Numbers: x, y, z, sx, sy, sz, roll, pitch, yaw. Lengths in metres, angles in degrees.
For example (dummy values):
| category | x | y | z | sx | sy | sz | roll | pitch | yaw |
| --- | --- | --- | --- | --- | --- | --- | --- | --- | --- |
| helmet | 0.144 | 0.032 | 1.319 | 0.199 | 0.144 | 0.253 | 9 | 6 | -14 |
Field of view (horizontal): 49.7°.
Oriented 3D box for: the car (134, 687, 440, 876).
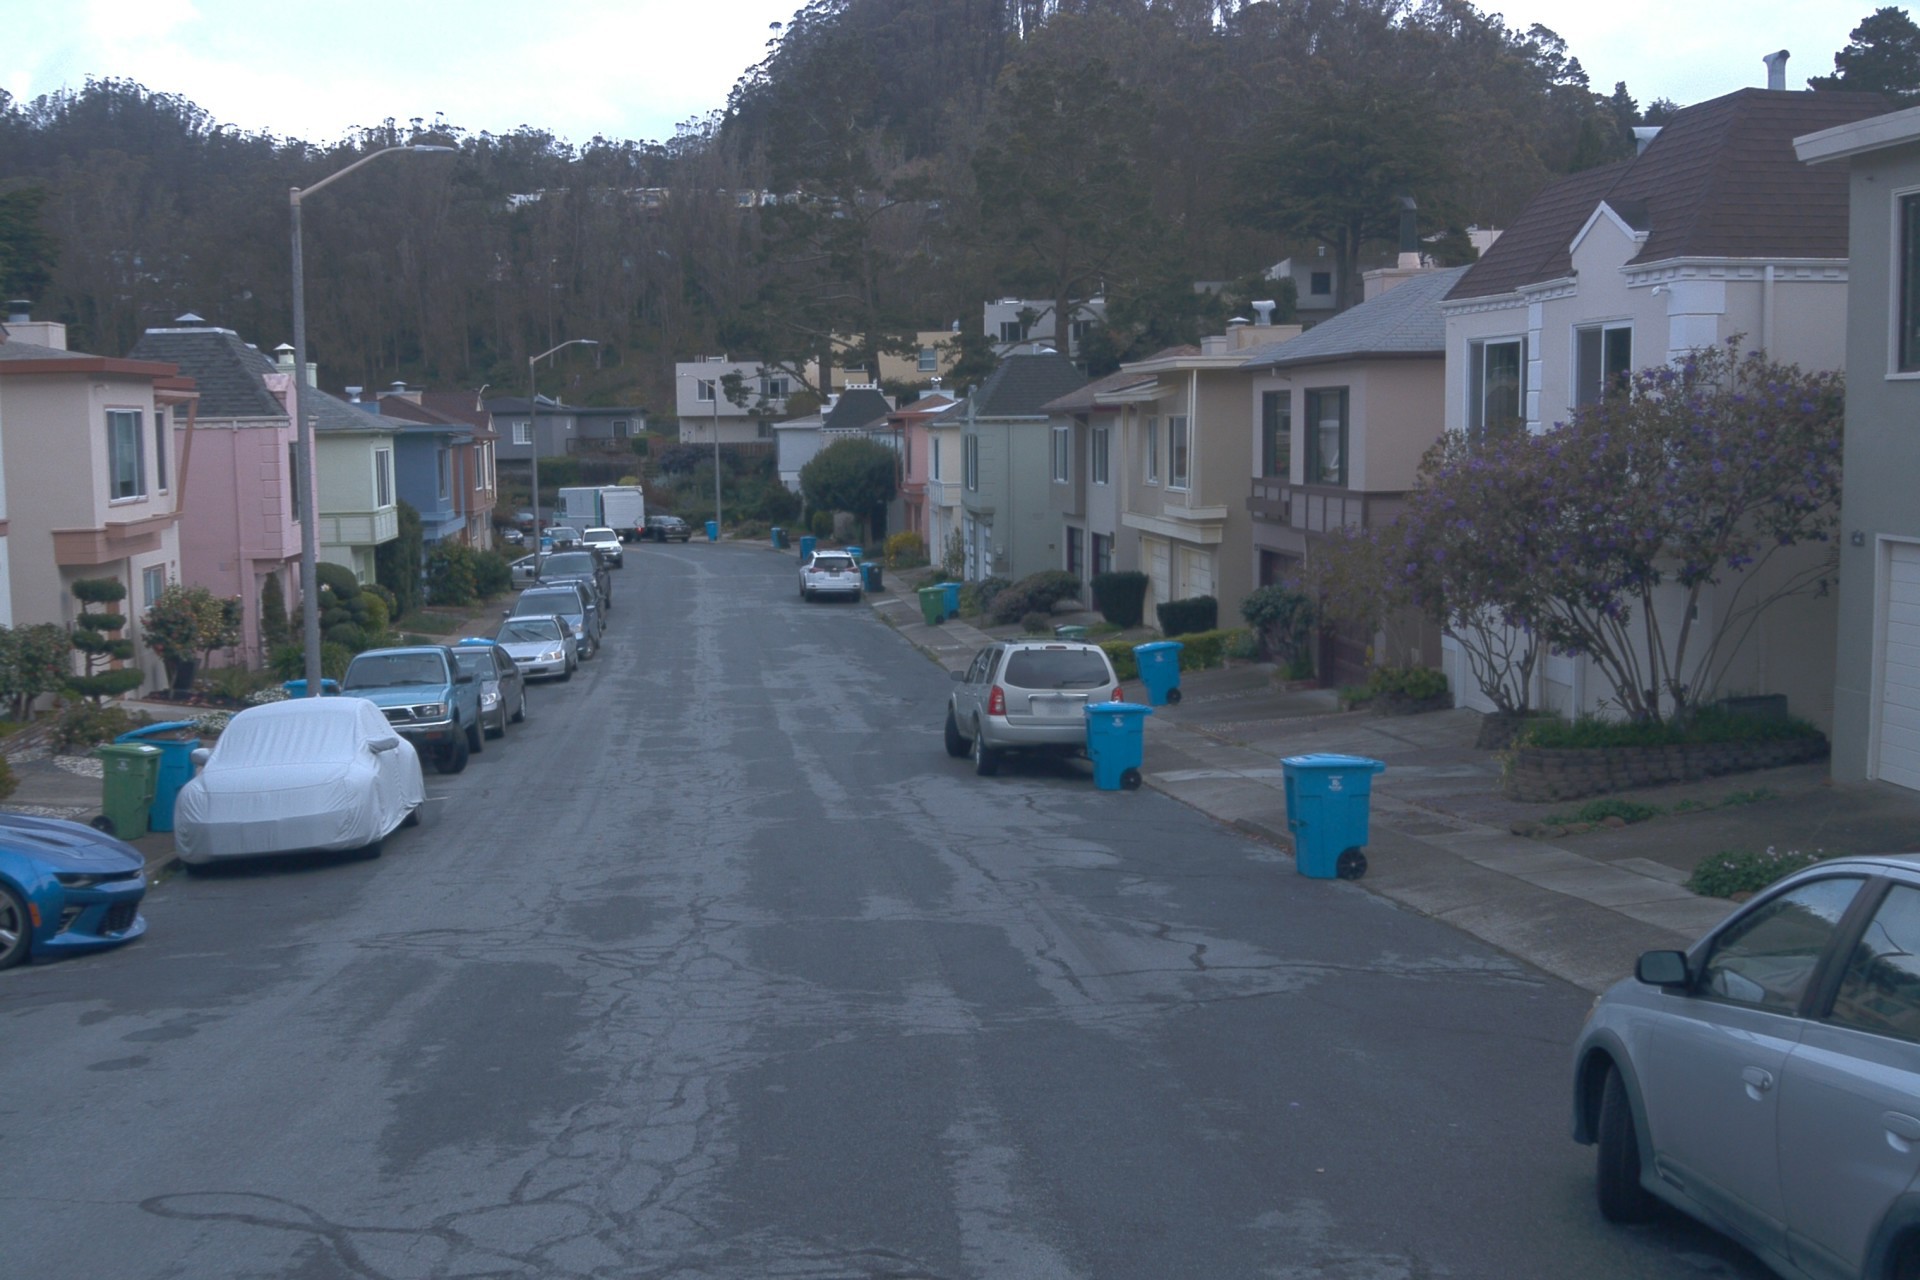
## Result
| category | x | y | z | sx | sy | sz | roll | pitch | yaw |
| --- | --- | --- | --- | --- | --- | --- | --- | --- | --- |
| car | -6.505 | 1.300 | 20.531 | 2.131 | 1.590 | 4.313 | 0 | 0 | -7 |

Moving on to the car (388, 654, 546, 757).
| category | x | y | z | sx | sy | sz | roll | pitch | yaw |
| --- | --- | --- | --- | --- | --- | --- | --- | --- | --- |
| car | -8.112 | 1.026 | 34.469 | 1.931 | 1.590 | 4.513 | 0 | 0 | -5 |

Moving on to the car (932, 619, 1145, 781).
| category | x | y | z | sx | sy | sz | roll | pitch | yaw |
| --- | --- | --- | --- | --- | --- | --- | --- | --- | --- |
| car | 0.928 | 0.732 | 27.242 | 2.143 | 1.940 | 4.473 | 0 | 0 | -7 |

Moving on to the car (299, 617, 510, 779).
| category | x | y | z | sx | sy | sz | roll | pitch | yaw |
| --- | --- | --- | --- | --- | --- | --- | --- | --- | --- |
| car | -7.739 | 0.763 | 29.358 | 2.183 | 2.085 | 5.078 | 0 | 0 | -7 |
